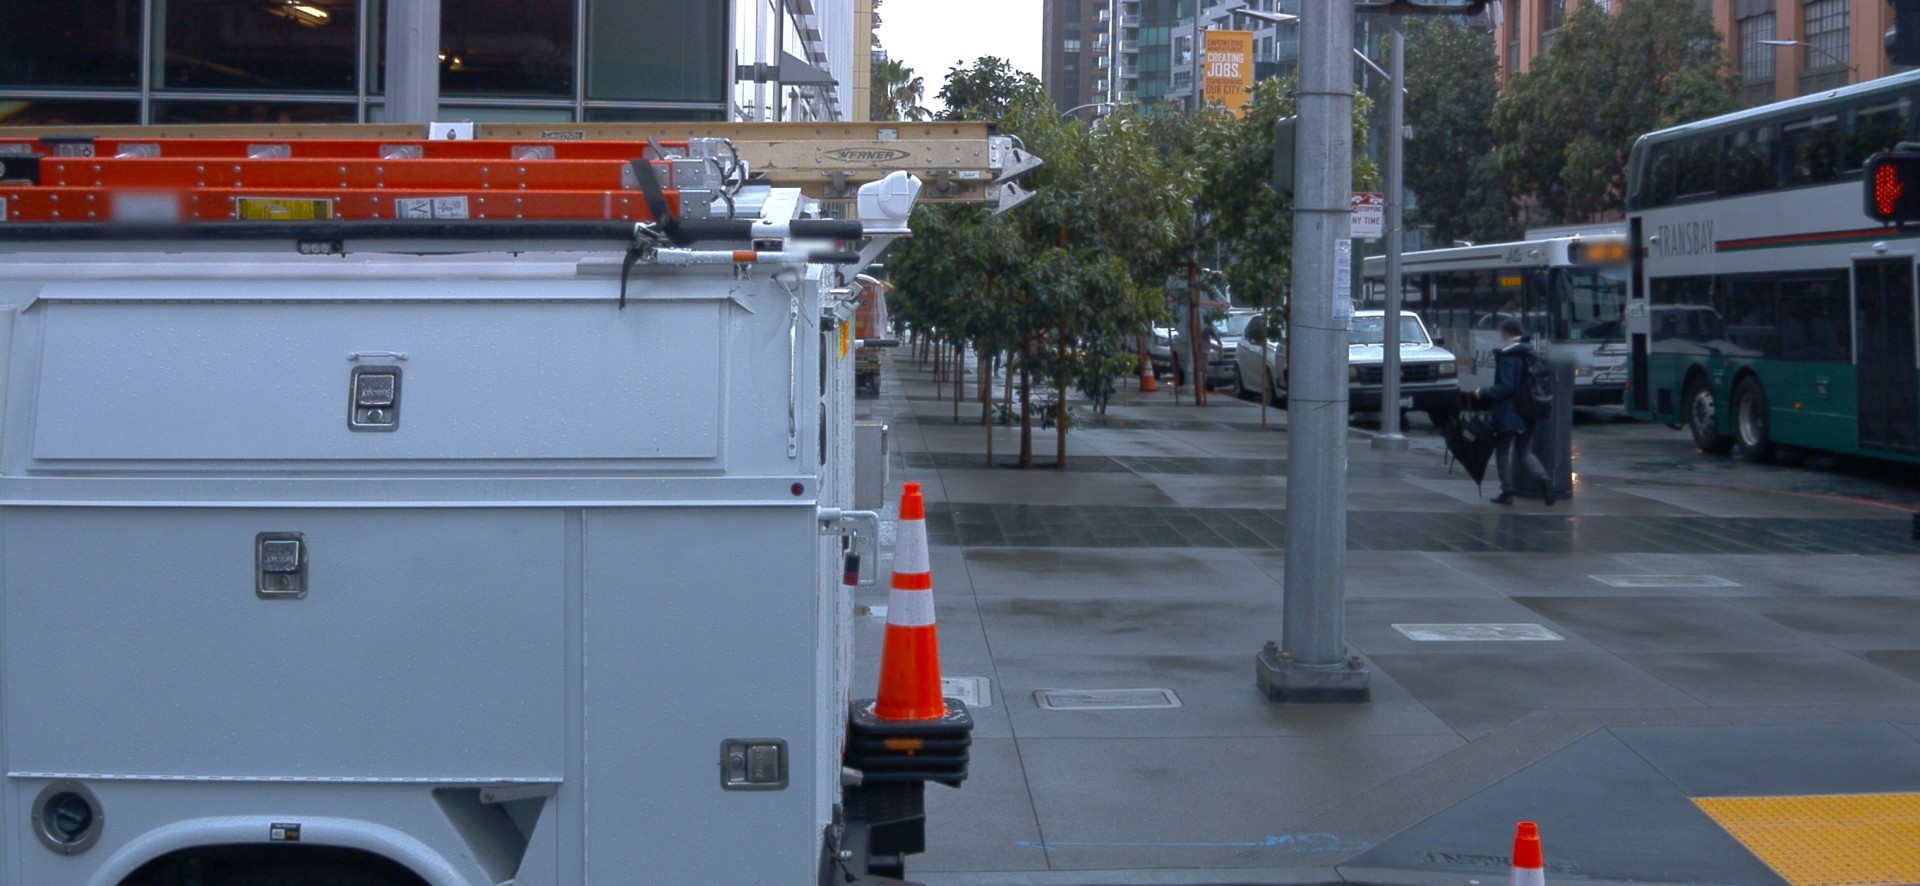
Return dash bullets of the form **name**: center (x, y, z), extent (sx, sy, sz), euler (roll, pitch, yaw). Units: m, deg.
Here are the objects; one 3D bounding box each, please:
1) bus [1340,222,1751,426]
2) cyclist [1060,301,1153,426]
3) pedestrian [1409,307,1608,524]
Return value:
- **bus**: center (9.873, -2.414, 36.813), extent (3.258, 2.996, 12.707), euler (0, 6, -2)
- **cyclist**: center (2.185, -1.232, 30.992), extent (1.210, 1.741, 2.030), euler (0, 4, -1)
- **pedestrian**: center (4.421, -0.255, 16.587), extent (1.244, 1.638, 0.910), euler (-1, 2, -21)
